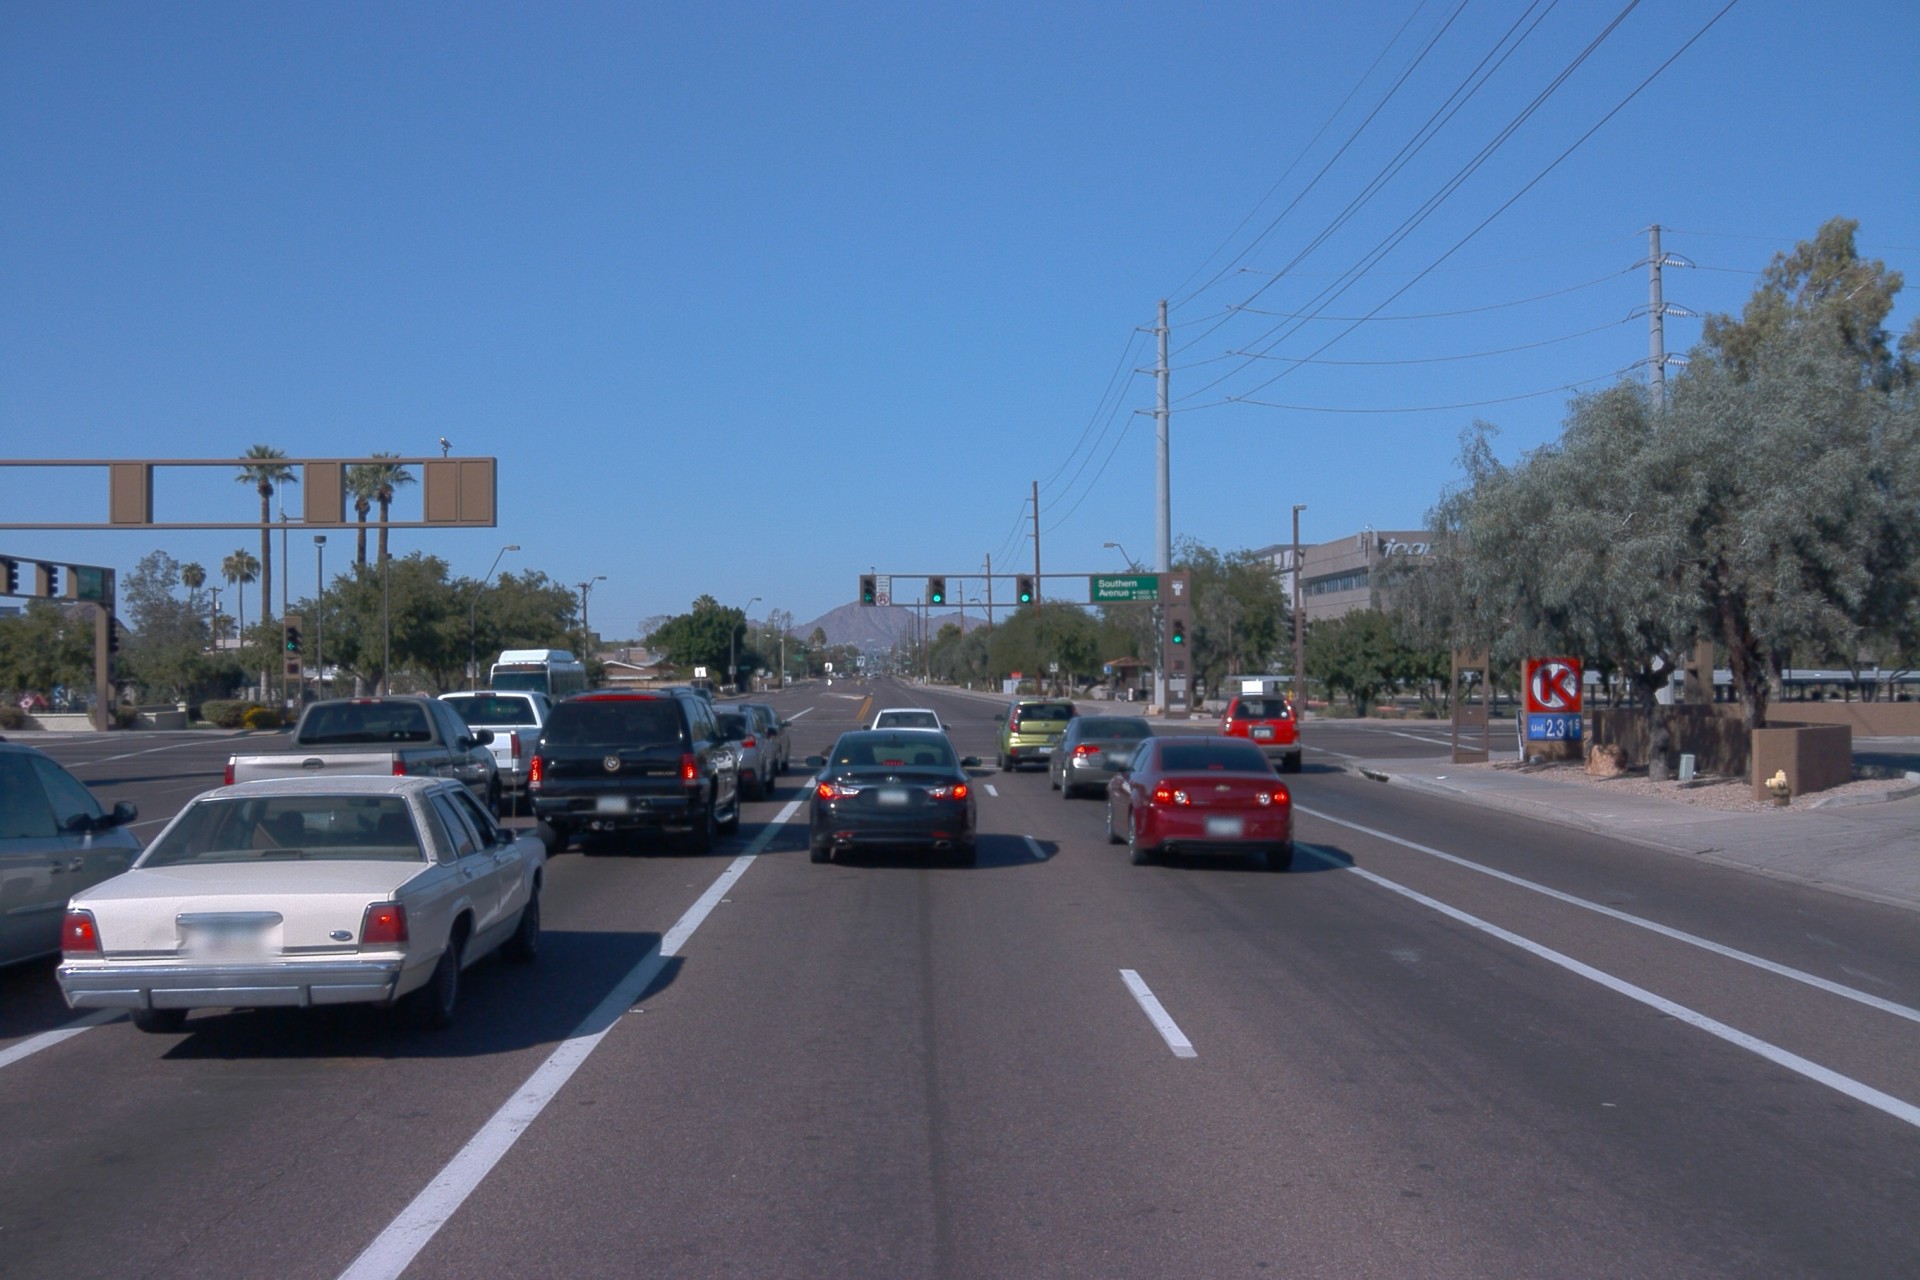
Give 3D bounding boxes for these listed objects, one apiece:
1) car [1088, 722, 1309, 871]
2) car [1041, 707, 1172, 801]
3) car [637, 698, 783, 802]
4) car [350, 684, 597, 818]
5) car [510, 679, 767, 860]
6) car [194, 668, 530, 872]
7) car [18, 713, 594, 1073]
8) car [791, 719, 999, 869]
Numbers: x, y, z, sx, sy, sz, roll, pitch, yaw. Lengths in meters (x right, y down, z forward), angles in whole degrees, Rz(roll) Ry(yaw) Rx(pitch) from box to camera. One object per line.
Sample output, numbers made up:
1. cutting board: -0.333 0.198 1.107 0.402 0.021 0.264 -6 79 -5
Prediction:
1. car: 2.675 1.747 24.306 1.961 1.480 4.830 0 -1 -1
2. car: 2.503 1.958 36.516 1.907 1.500 4.574 0 -1 -1
3. car: -4.166 1.813 35.239 2.076 1.610 4.769 0 -1 -2
4. car: -7.493 1.652 32.711 2.493 1.900 6.194 0 -1 -1
5. car: -3.758 1.467 25.195 2.219 1.970 5.012 0 -1 2
6. car: -6.744 1.395 24.195 2.280 2.080 5.800 0 -1 0
7. car: -3.890 1.418 13.517 2.178 1.790 5.373 0 -1 -2
8. car: -0.750 1.694 23.964 2.156 1.470 4.807 0 -1 -2
